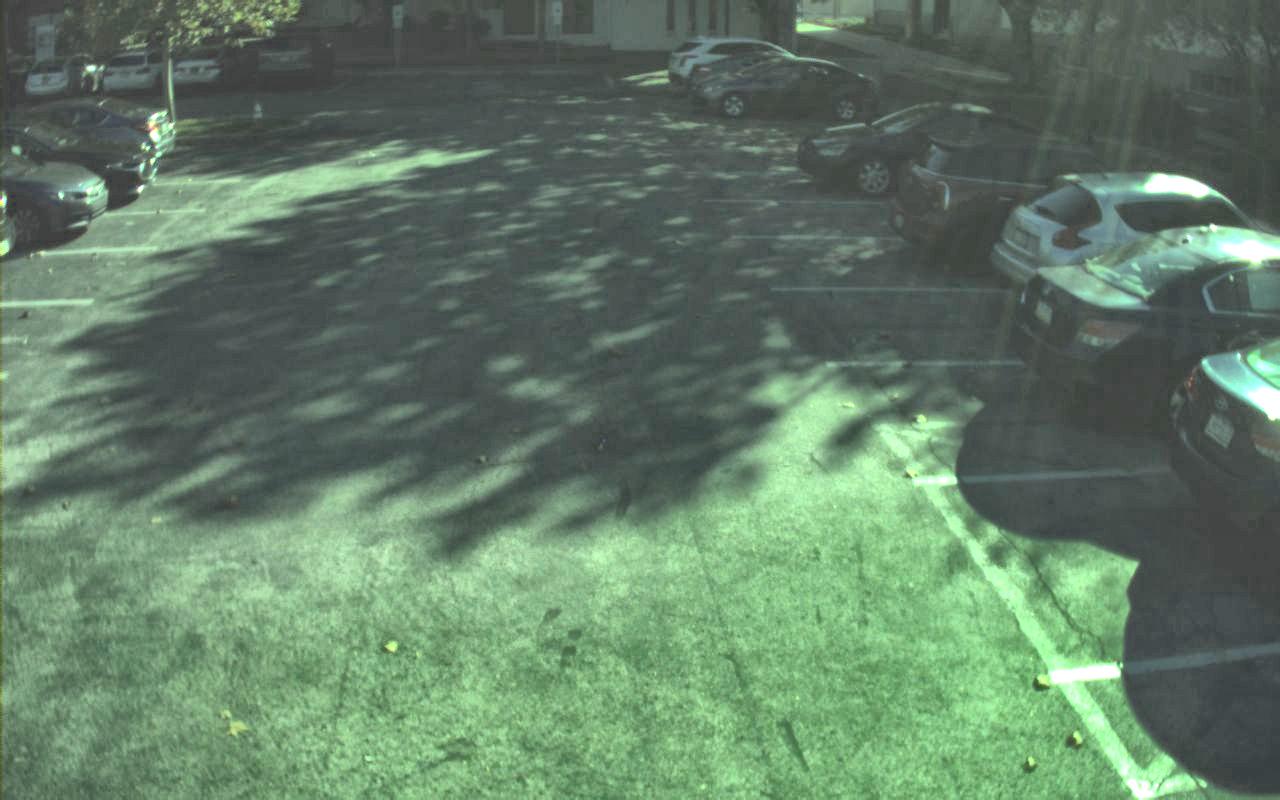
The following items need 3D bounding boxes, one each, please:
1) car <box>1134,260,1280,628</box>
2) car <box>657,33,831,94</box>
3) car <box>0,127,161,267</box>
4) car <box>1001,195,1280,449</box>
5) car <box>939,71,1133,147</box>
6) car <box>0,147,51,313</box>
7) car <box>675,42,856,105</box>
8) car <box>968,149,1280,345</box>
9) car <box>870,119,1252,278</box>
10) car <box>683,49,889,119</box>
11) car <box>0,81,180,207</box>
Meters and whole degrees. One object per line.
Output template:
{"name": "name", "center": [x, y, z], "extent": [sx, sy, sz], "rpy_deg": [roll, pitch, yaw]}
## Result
{"name": "car", "center": [5.572, 0.098, 6.965], "extent": [4.413, 1.591, 1.952], "rpy_deg": [-3, 16, -7]}
{"name": "car", "center": [2.844, -9.305, 33.971], "extent": [4.492, 1.647, 1.971], "rpy_deg": [-3, 16, -7]}
{"name": "car", "center": [-8.613, -3.064, 16.645], "extent": [1.923, 1.521, 4.264], "rpy_deg": [-15, 21, -39]}
{"name": "car", "center": [5.284, -0.693, 9.376], "extent": [4.415, 1.562, 1.938], "rpy_deg": [-1, 16, 1]}
{"name": "car", "center": [9.353, -6.845, 28.111], "extent": [4.379, 1.531, 1.904], "rpy_deg": [-3, 16, -6]}
{"name": "car", "center": [-9.700, -2.056, 13.282], "extent": [4.392, 1.605, 1.966], "rpy_deg": [1, 16, 6]}
{"name": "car", "center": [3.183, -8.381, 31.562], "extent": [4.343, 1.558, 1.930], "rpy_deg": [-3, 16, -7]}
{"name": "car", "center": [5.654, -1.630, 12.016], "extent": [4.282, 1.598, 1.908], "rpy_deg": [-2, 16, -5]}
{"name": "car", "center": [5.175, -2.499, 14.594], "extent": [4.483, 1.609, 1.958], "rpy_deg": [-3, 16, -6]}
{"name": "car", "center": [3.429, -7.543, 29.297], "extent": [4.620, 1.598, 1.979], "rpy_deg": [-2, 16, -5]}
{"name": "car", "center": [-10.578, -4.585, 20.220], "extent": [4.454, 1.663, 1.973], "rpy_deg": [-4, 16, -9]}
